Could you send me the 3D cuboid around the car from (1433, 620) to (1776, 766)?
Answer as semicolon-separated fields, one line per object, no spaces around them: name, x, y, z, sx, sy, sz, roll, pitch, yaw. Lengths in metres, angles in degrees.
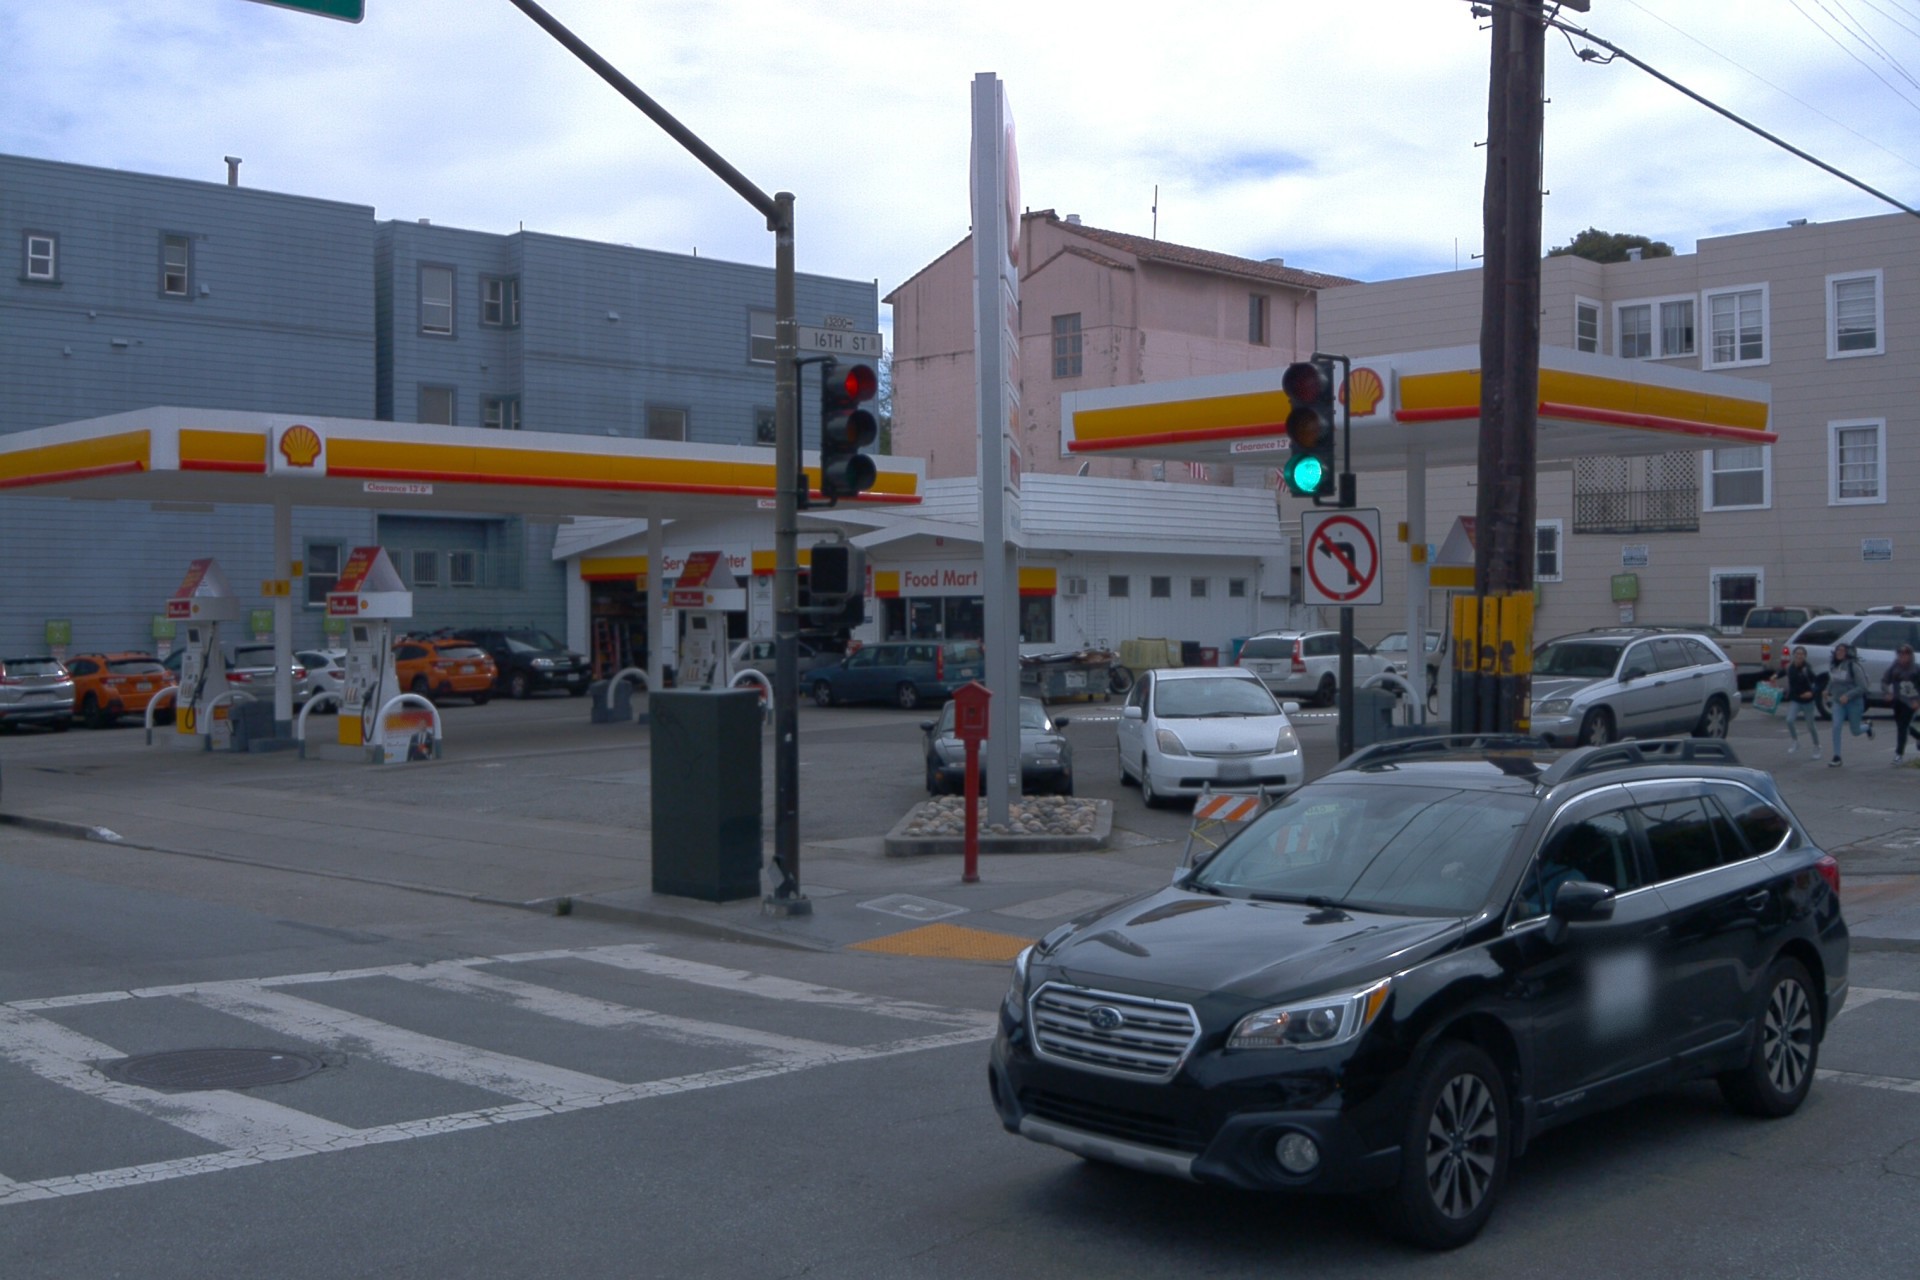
car;8.890;0.641;28.250;5.073;1.780;2.142;-1;1;-41

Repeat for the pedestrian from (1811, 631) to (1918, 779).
pedestrian;11.423;0.793;26.058;1.246;1.800;0.801;-1;1;-43

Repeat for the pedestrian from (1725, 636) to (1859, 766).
pedestrian;10.813;0.767;26.827;1.310;1.600;1.176;-1;1;-44

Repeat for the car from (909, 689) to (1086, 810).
car;0.359;1.217;23.967;1.838;1.140;3.679;0;1;-2

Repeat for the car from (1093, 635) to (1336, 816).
car;2.817;0.889;23.871;2.104;1.810;4.502;0;1;-2
